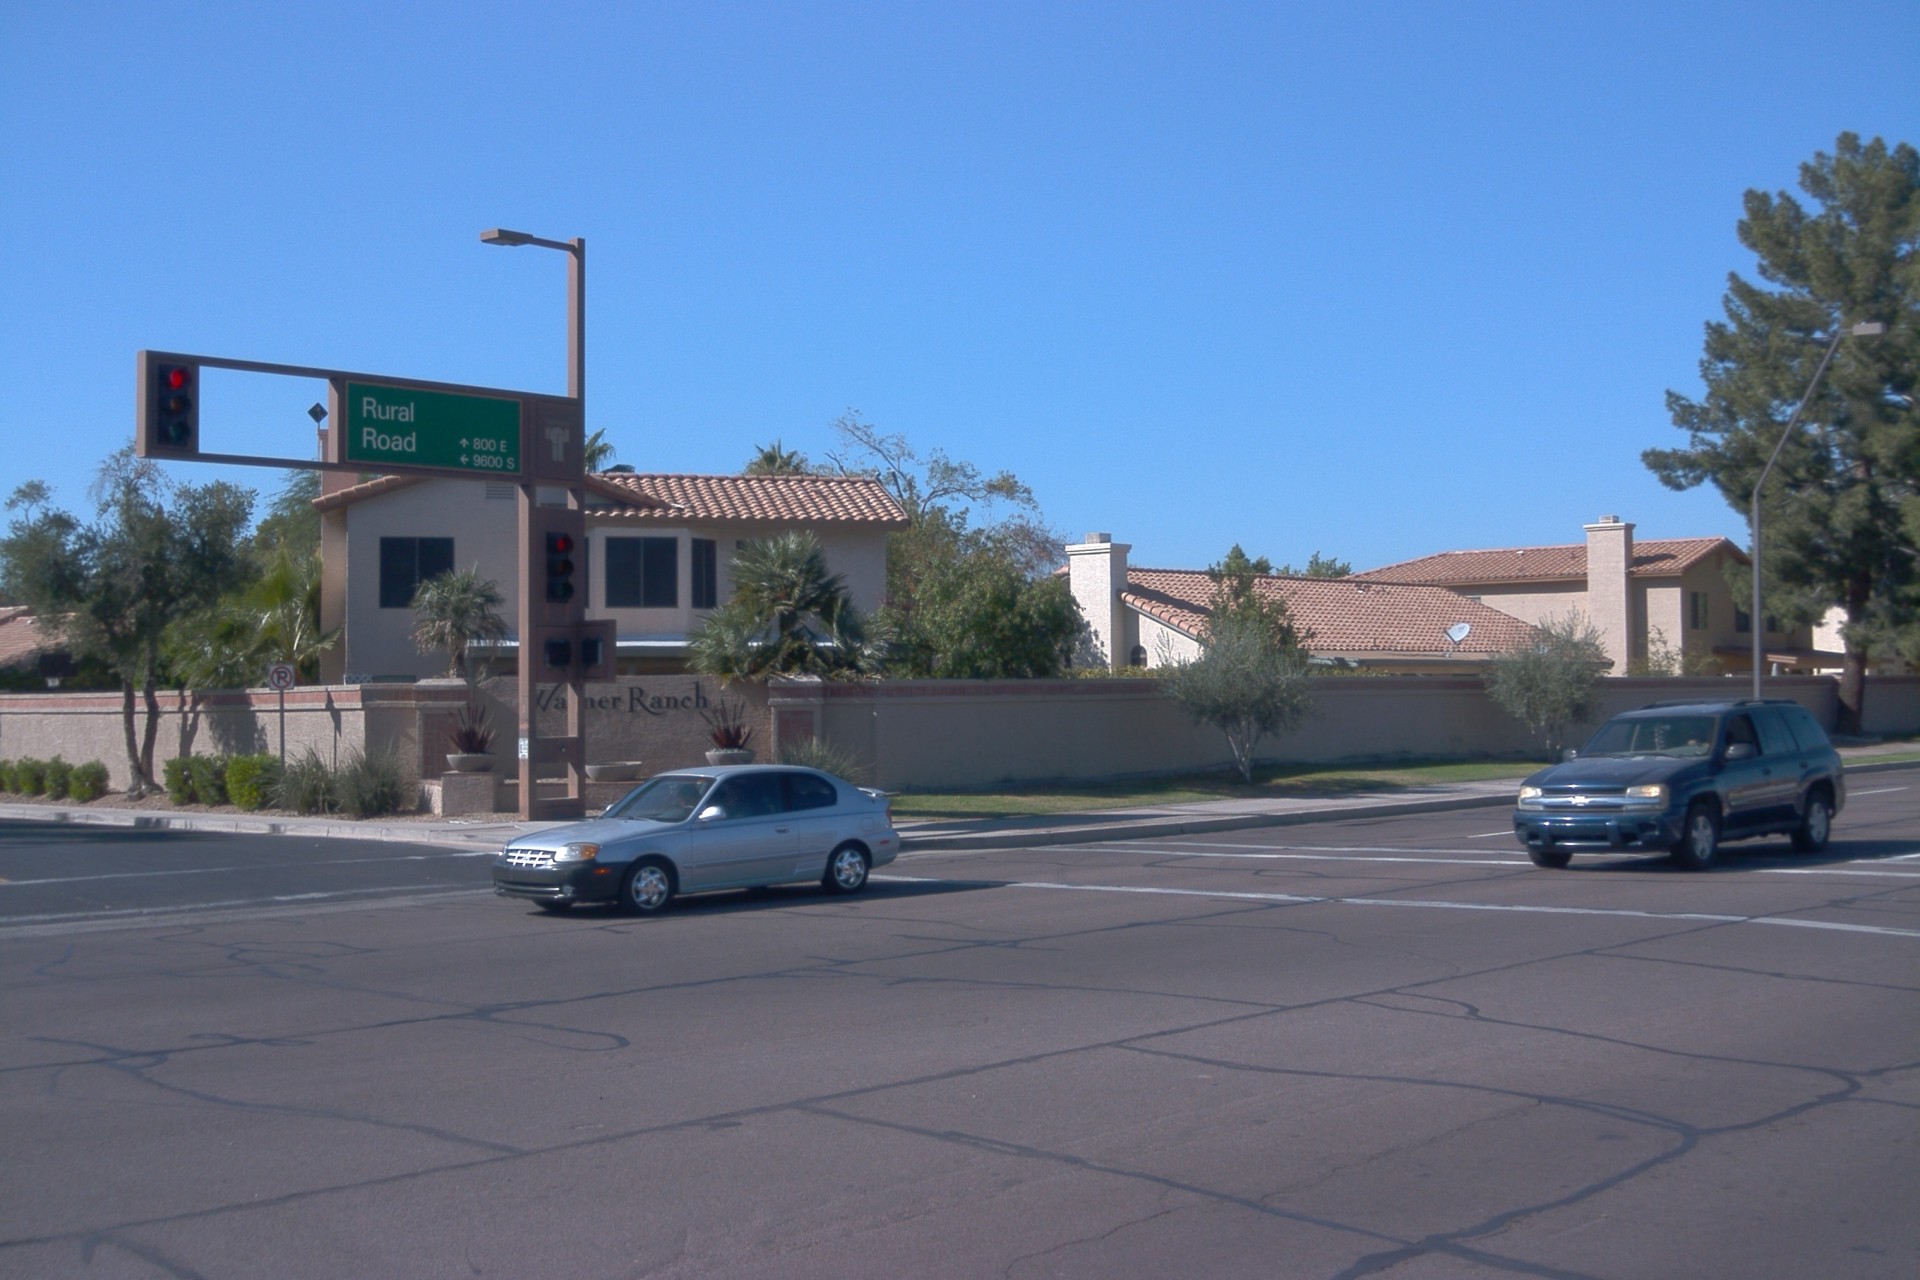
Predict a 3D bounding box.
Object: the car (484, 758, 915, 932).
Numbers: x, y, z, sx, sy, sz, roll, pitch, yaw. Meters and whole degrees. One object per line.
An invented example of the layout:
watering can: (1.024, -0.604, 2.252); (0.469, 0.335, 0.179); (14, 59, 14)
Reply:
car: (-2.586, 2.013, 21.327); (4.110, 1.400, 1.829); (1, 0, -45)

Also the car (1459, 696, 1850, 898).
car: (7.694, 1.603, 22.787); (4.844, 1.870, 2.101); (1, 0, -45)
